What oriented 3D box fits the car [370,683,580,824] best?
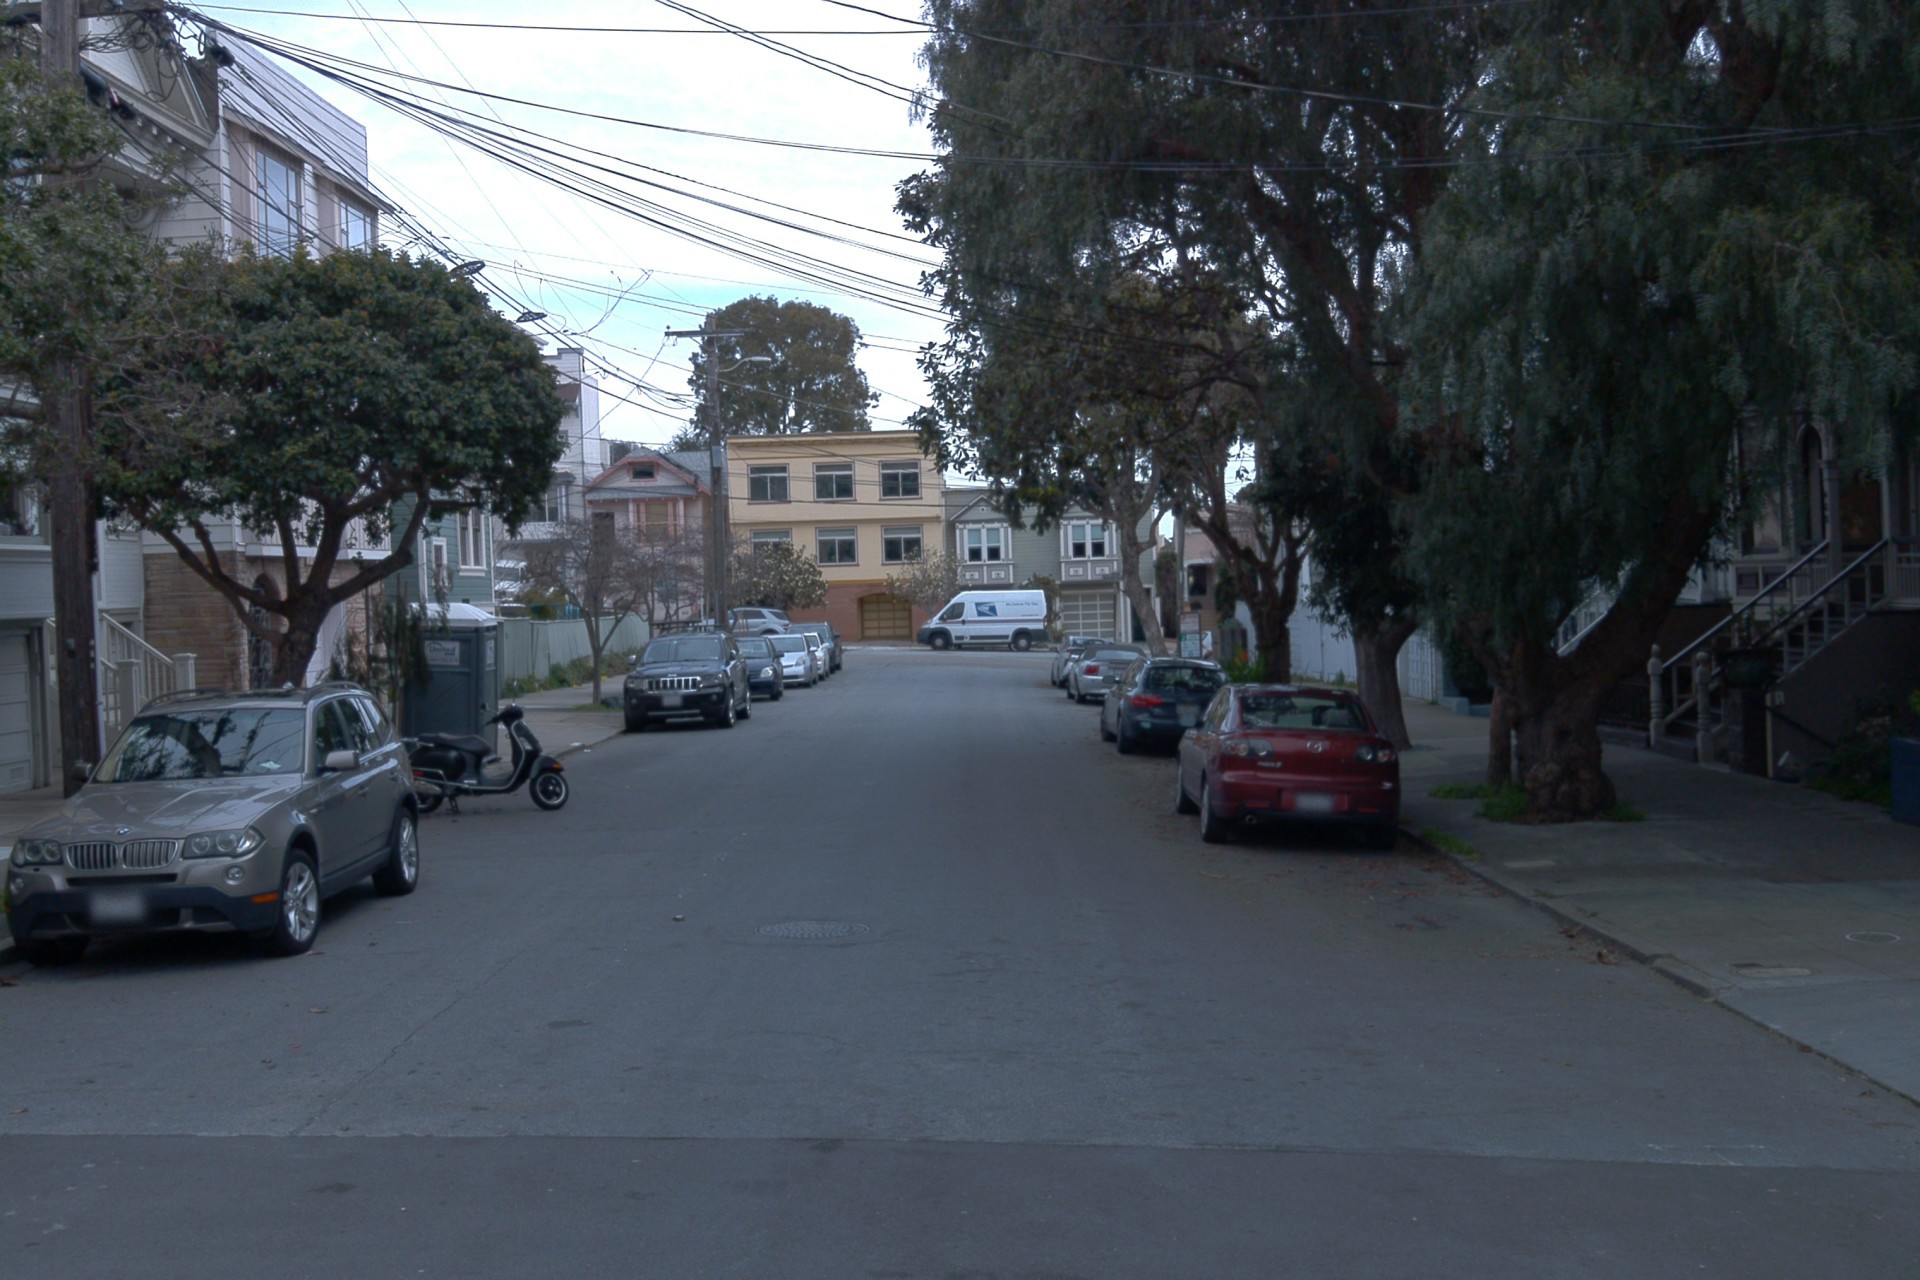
[{"bbox_3d":[-5.173,1.202,22.137,2.043,1.431,0.920,1,1,-1],"label":"car"}]

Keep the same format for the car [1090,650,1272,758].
[{"bbox_3d":[3.269,0.914,31.542,2.169,1.400,4.838,1,1,-1],"label":"car"}]

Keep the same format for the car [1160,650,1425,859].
[{"bbox_3d":[3.121,1.006,20.324,1.960,1.710,4.635,1,1,2],"label":"car"}]
